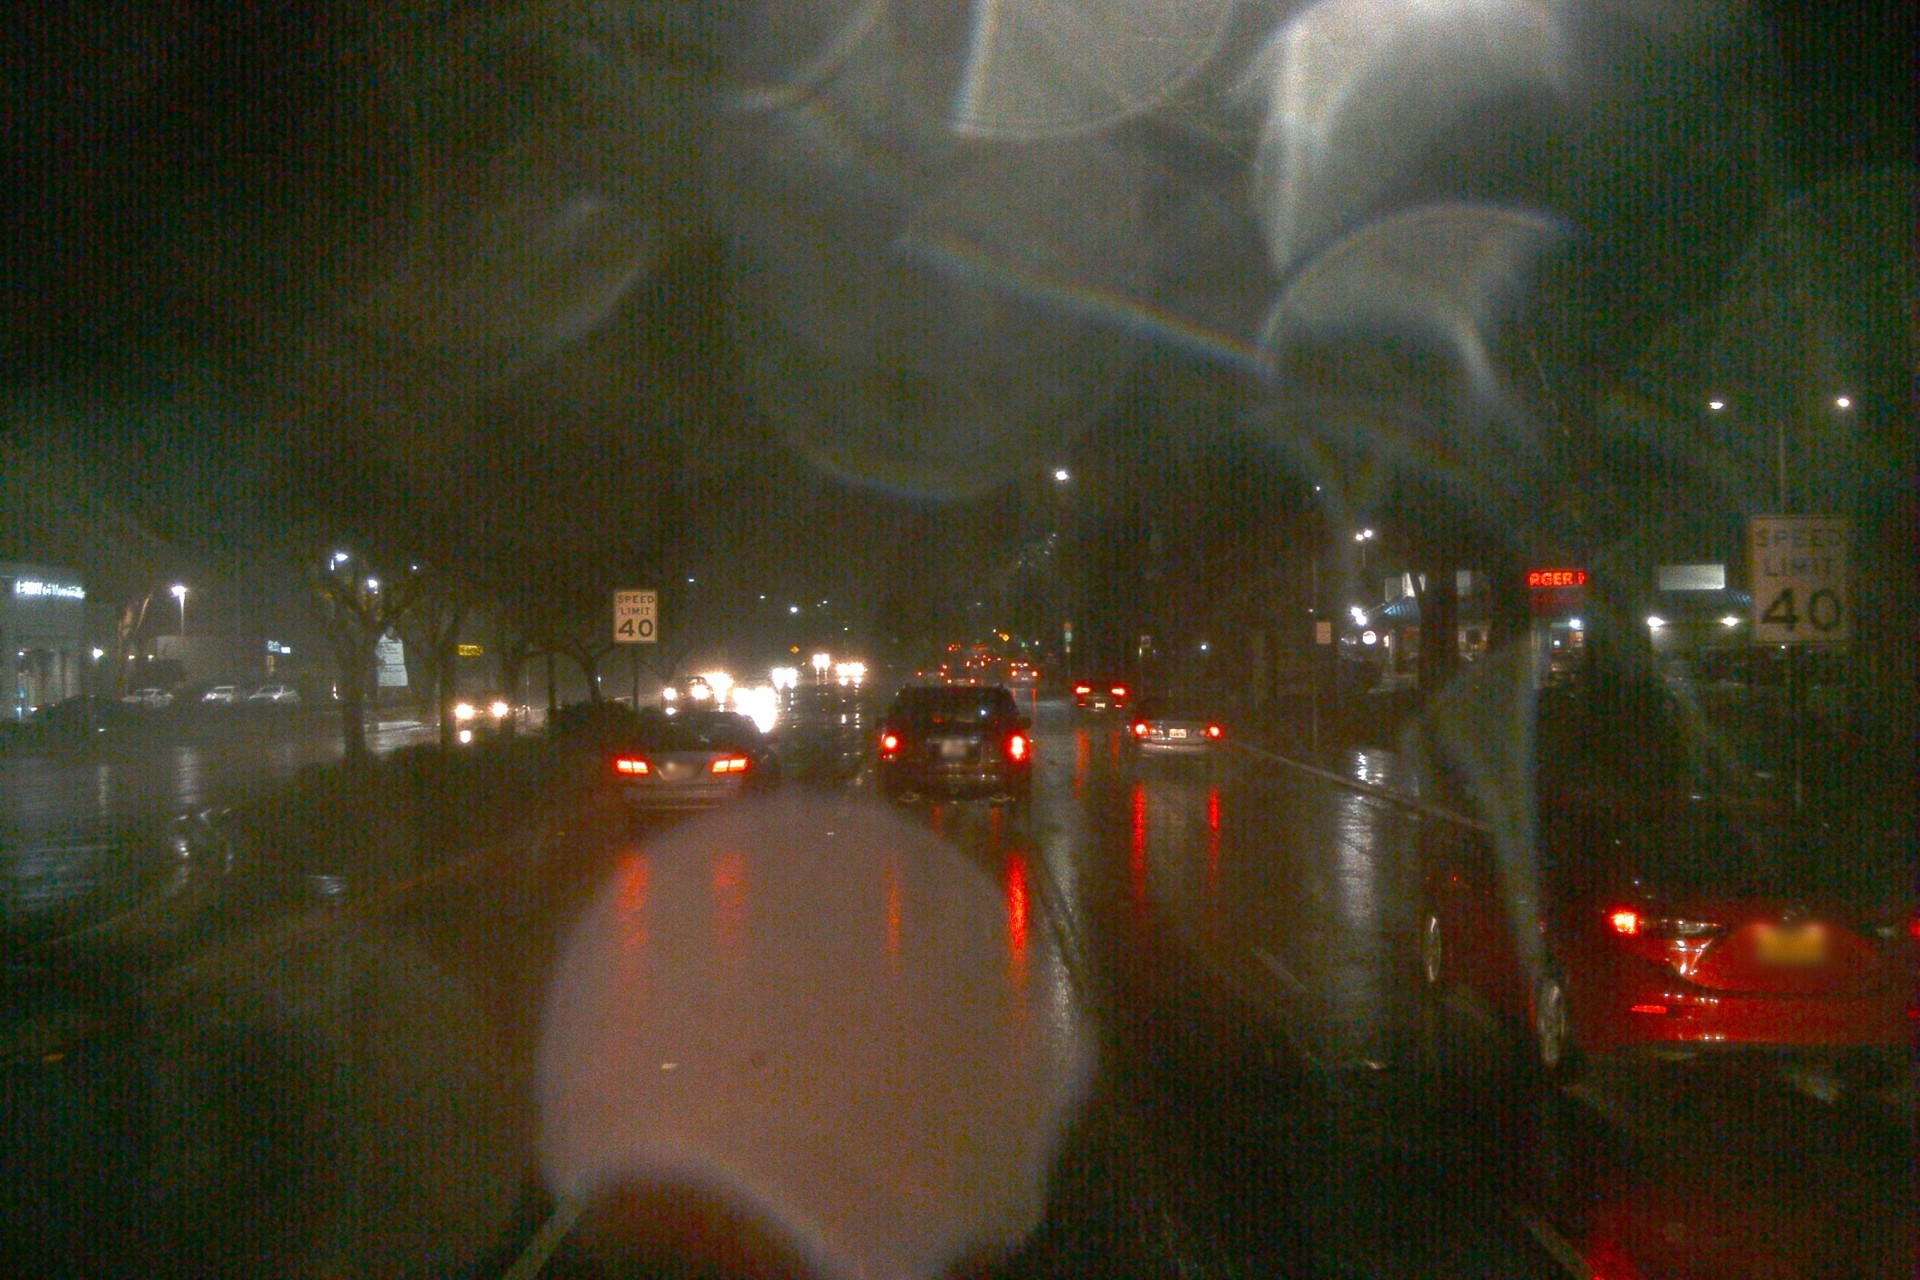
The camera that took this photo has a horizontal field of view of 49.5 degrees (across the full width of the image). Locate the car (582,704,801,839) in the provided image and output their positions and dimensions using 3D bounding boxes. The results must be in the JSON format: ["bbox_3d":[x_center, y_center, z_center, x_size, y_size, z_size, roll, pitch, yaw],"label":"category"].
[{"bbox_3d":[-3.474,1.682,27.942,2.307,1.544,4.878,0,-1,0],"label":"car"}]

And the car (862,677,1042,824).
[{"bbox_3d":[-0.094,1.409,28.044,2.222,1.800,4.381,0,-1,0],"label":"car"}]
